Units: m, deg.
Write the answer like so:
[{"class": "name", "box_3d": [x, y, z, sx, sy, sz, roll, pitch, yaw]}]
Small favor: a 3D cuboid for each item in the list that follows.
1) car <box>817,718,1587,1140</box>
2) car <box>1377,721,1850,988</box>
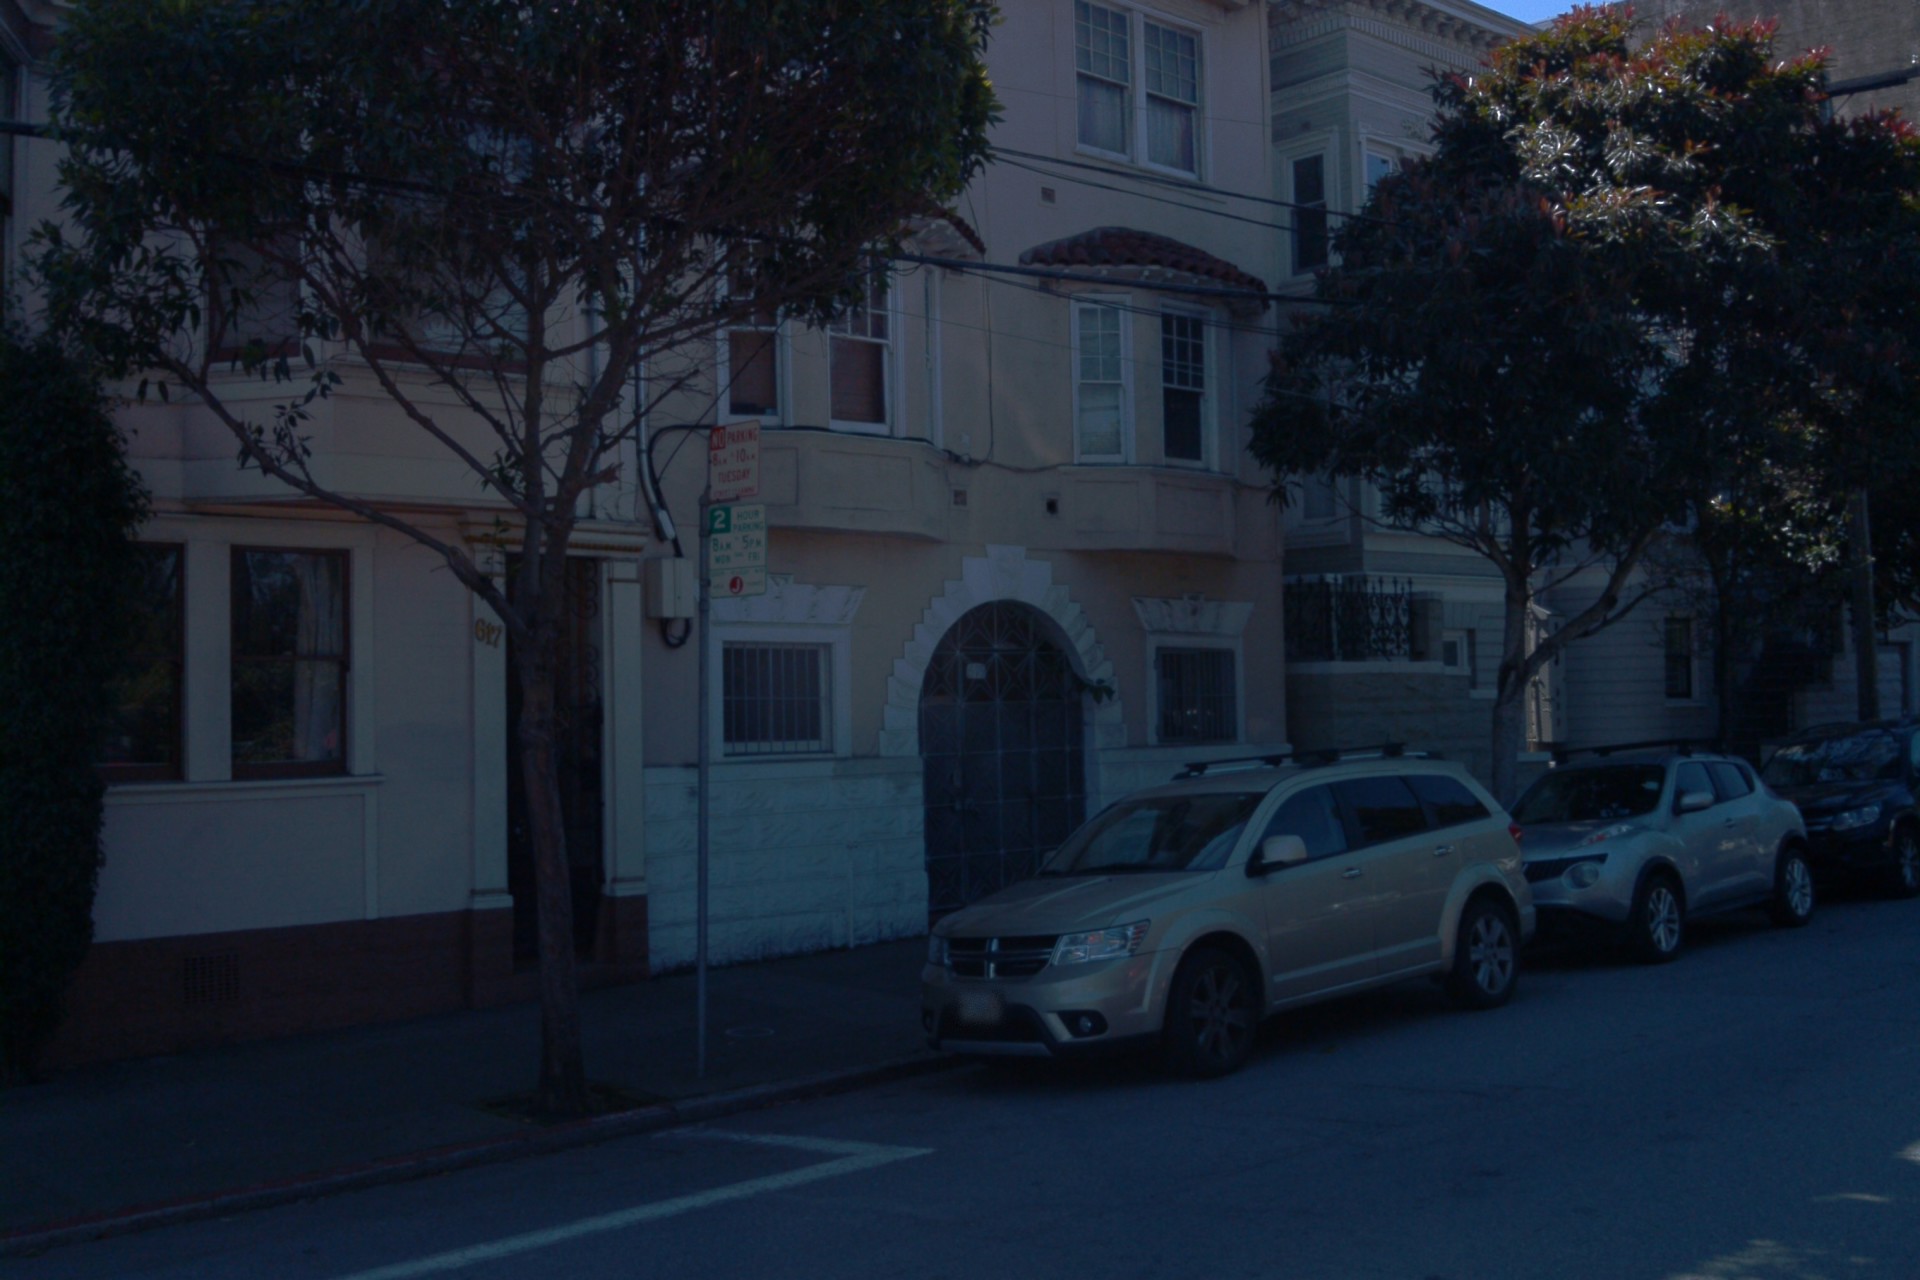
[{"class": "car", "box_3d": [1.717, 1.568, 13.024, 2.228, 1.880, 5.004, 1, 1, 45]}, {"class": "car", "box_3d": [5.414, 1.600, 16.720, 1.984, 1.640, 4.289, 1, 1, 43]}]
